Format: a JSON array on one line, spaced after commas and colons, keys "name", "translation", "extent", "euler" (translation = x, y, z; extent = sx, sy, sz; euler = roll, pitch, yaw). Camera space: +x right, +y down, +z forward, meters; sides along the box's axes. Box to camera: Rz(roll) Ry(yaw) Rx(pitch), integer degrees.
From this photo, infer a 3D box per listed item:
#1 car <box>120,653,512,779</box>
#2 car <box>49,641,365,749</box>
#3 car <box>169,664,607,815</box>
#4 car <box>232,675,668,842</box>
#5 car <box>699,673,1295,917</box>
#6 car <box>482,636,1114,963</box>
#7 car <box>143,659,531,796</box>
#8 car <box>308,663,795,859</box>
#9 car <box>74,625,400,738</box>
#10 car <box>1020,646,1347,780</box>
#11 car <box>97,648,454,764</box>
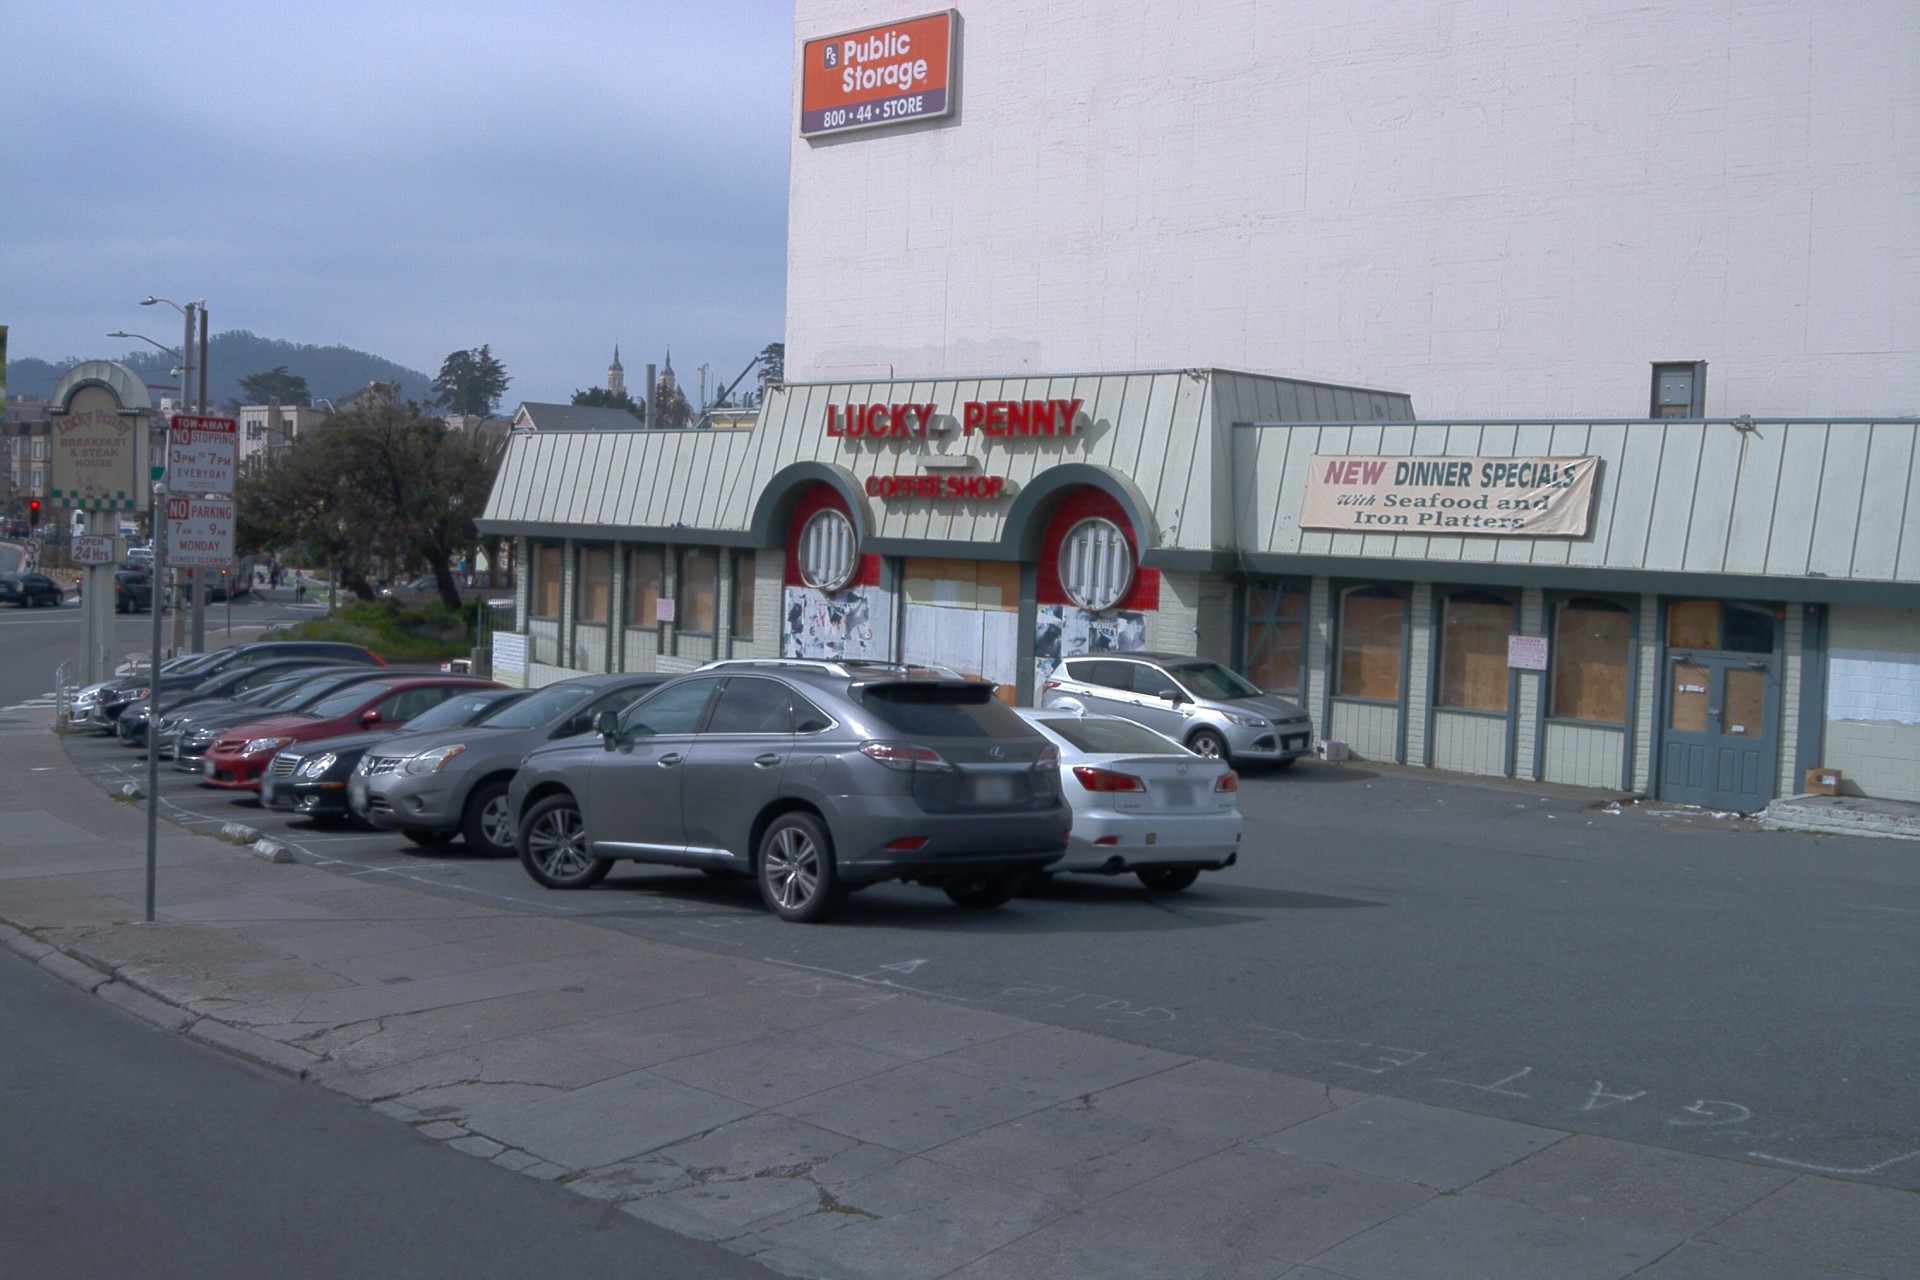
[{"name": "car", "translation": [-8.981, 0.996, 28.782], "extent": [4.736, 1.590, 2.241], "euler": [0, 0, -44]}, {"name": "car", "translation": [-13.135, 0.910, 35.856], "extent": [4.757, 1.740, 2.072], "euler": [0, 0, -43]}, {"name": "car", "translation": [-6.656, 1.089, 24.116], "extent": [4.484, 1.550, 2.134], "euler": [0, 0, -44]}, {"name": "car", "translation": [-5.264, 1.158, 21.427], "extent": [4.029, 1.500, 1.869], "euler": [0, 0, -45]}, {"name": "car", "translation": [0.160, 1.122, 16.691], "extent": [2.088, 1.580, 4.738], "euler": [0, 0, -44]}, {"name": "car", "translation": [-1.291, 0.959, 14.599], "extent": [2.065, 1.920, 4.493], "euler": [0, 0, -45]}, {"name": "car", "translation": [-7.971, 1.055, 26.409], "extent": [4.343, 1.580, 1.994], "euler": [0, 0, -43]}, {"name": "car", "translation": [-3.714, 1.026, 19.045], "extent": [1.975, 1.570, 4.019], "euler": [1, 0, 44]}, {"name": "car", "translation": [-11.715, 0.629, 33.332], "extent": [4.561, 1.710, 2.059], "euler": [0, 0, -43]}, {"name": "car", "translation": [3.290, 1.020, 30.719], "extent": [2.134, 1.790, 4.557], "euler": [0, 0, -44]}, {"name": "car", "translation": [-10.336, 0.939, 31.104], "extent": [4.651, 1.610, 2.192], "euler": [0, 0, -43]}]
